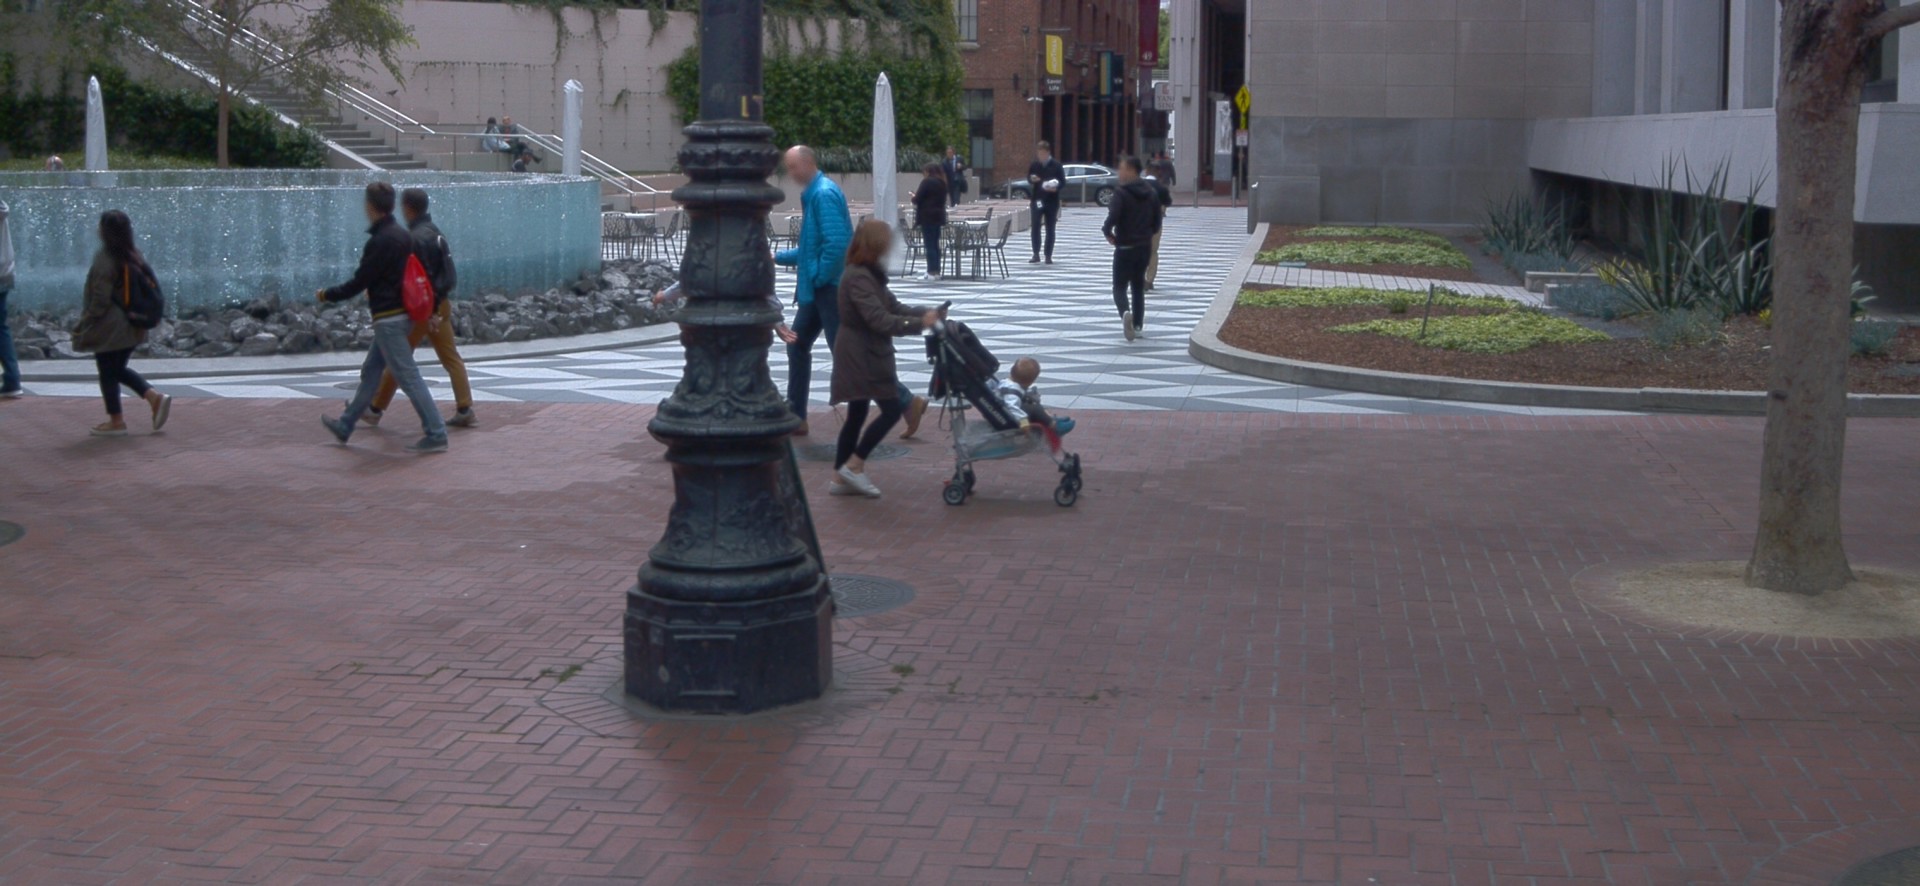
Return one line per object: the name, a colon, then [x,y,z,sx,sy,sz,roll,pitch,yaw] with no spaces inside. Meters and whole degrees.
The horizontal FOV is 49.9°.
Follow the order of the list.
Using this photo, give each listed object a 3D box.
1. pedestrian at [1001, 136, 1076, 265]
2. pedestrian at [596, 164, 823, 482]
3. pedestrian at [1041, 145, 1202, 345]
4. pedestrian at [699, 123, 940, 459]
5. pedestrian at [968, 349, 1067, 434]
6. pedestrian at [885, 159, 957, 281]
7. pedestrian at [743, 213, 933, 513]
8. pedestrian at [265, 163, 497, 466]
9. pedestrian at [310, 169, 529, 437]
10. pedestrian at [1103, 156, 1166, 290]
pedestrian: [1.212,-3.697,31.606,0.994,1.941,1.041,0,1,11]
pedestrian: [-1.468,-0.733,12.244,1.124,1.801,0.892,0,1,10]
pedestrian: [1.514,-1.892,19.669,1.251,1.830,1.378,0,2,-9]
pedestrian: [-0.868,-0.978,13.058,1.311,2.031,0.950,0,1,11]
pedestrian: [0.310,-0.279,11.067,0.513,0.428,0.309,0,2,4]
pedestrian: [-0.527,-2.977,27.629,0.654,1.601,0.740,0,1,-36]
pedestrian: [-0.645,-0.454,11.155,0.933,1.569,0.640,0,1,5]
pedestrian: [-3.619,-0.827,12.953,1.117,1.821,0.859,0,1,14]
pedestrian: [-3.621,-0.962,13.892,1.090,1.731,0.960,0,1,14]
pedestrian: [2.181,-2.757,25.913,0.759,1.640,1.017,0,1,3]
